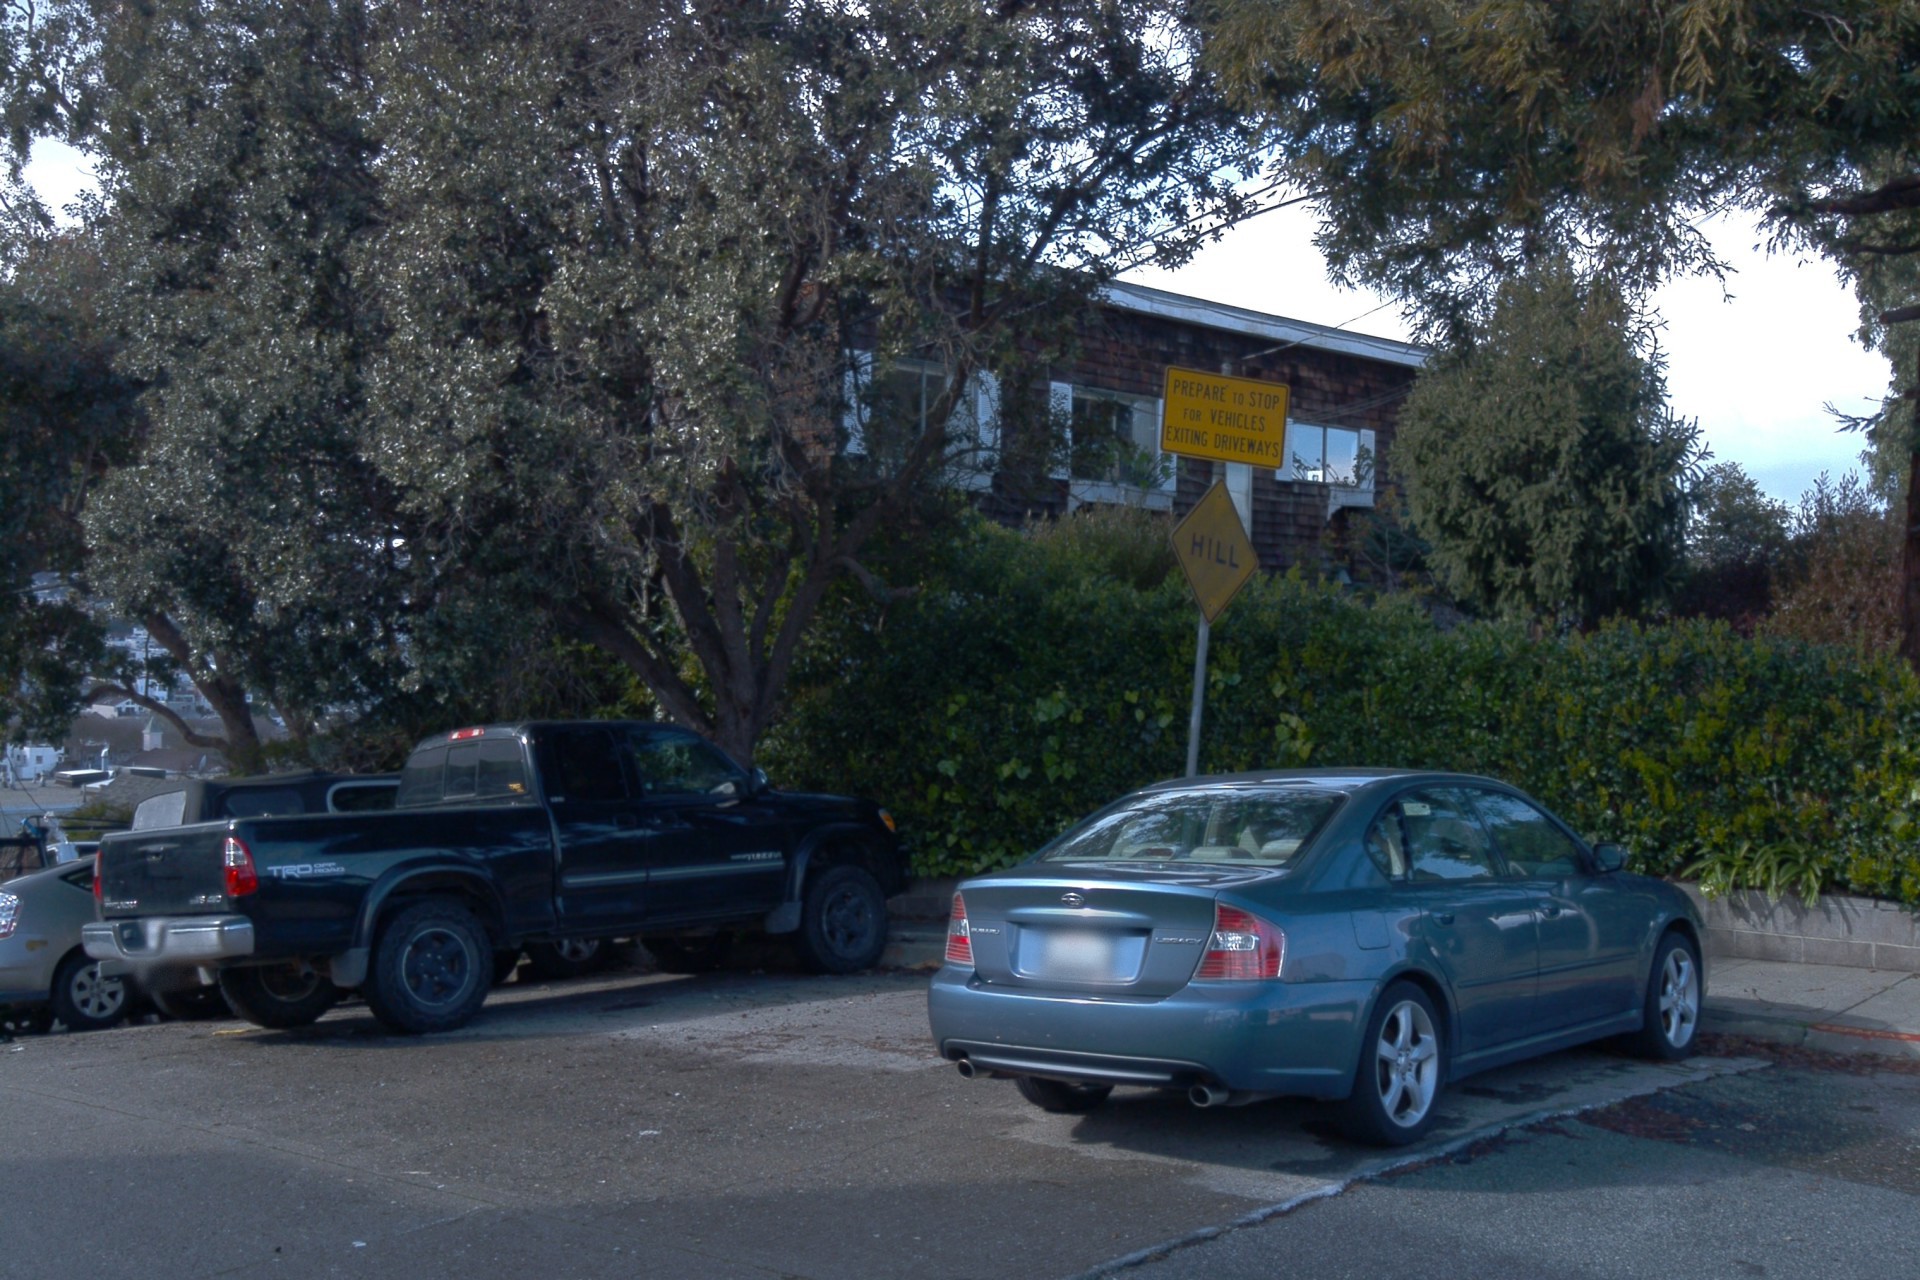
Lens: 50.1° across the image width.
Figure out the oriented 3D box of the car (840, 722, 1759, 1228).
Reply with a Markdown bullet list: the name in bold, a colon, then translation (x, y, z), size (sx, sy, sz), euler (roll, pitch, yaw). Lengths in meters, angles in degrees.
- **car**: translation (1.745, 1.205, 9.146), size (1.909, 1.450, 4.509), euler (2, 1, 41)

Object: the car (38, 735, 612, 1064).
- **car**: translation (-4.778, 1.837, 15.799), size (3.827, 2.000, 1.725), euler (0, 1, -44)

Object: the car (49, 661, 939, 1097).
- **car**: translation (-2.784, 1.286, 13.496), size (2.079, 2.190, 5.436), euler (2, 1, 43)
